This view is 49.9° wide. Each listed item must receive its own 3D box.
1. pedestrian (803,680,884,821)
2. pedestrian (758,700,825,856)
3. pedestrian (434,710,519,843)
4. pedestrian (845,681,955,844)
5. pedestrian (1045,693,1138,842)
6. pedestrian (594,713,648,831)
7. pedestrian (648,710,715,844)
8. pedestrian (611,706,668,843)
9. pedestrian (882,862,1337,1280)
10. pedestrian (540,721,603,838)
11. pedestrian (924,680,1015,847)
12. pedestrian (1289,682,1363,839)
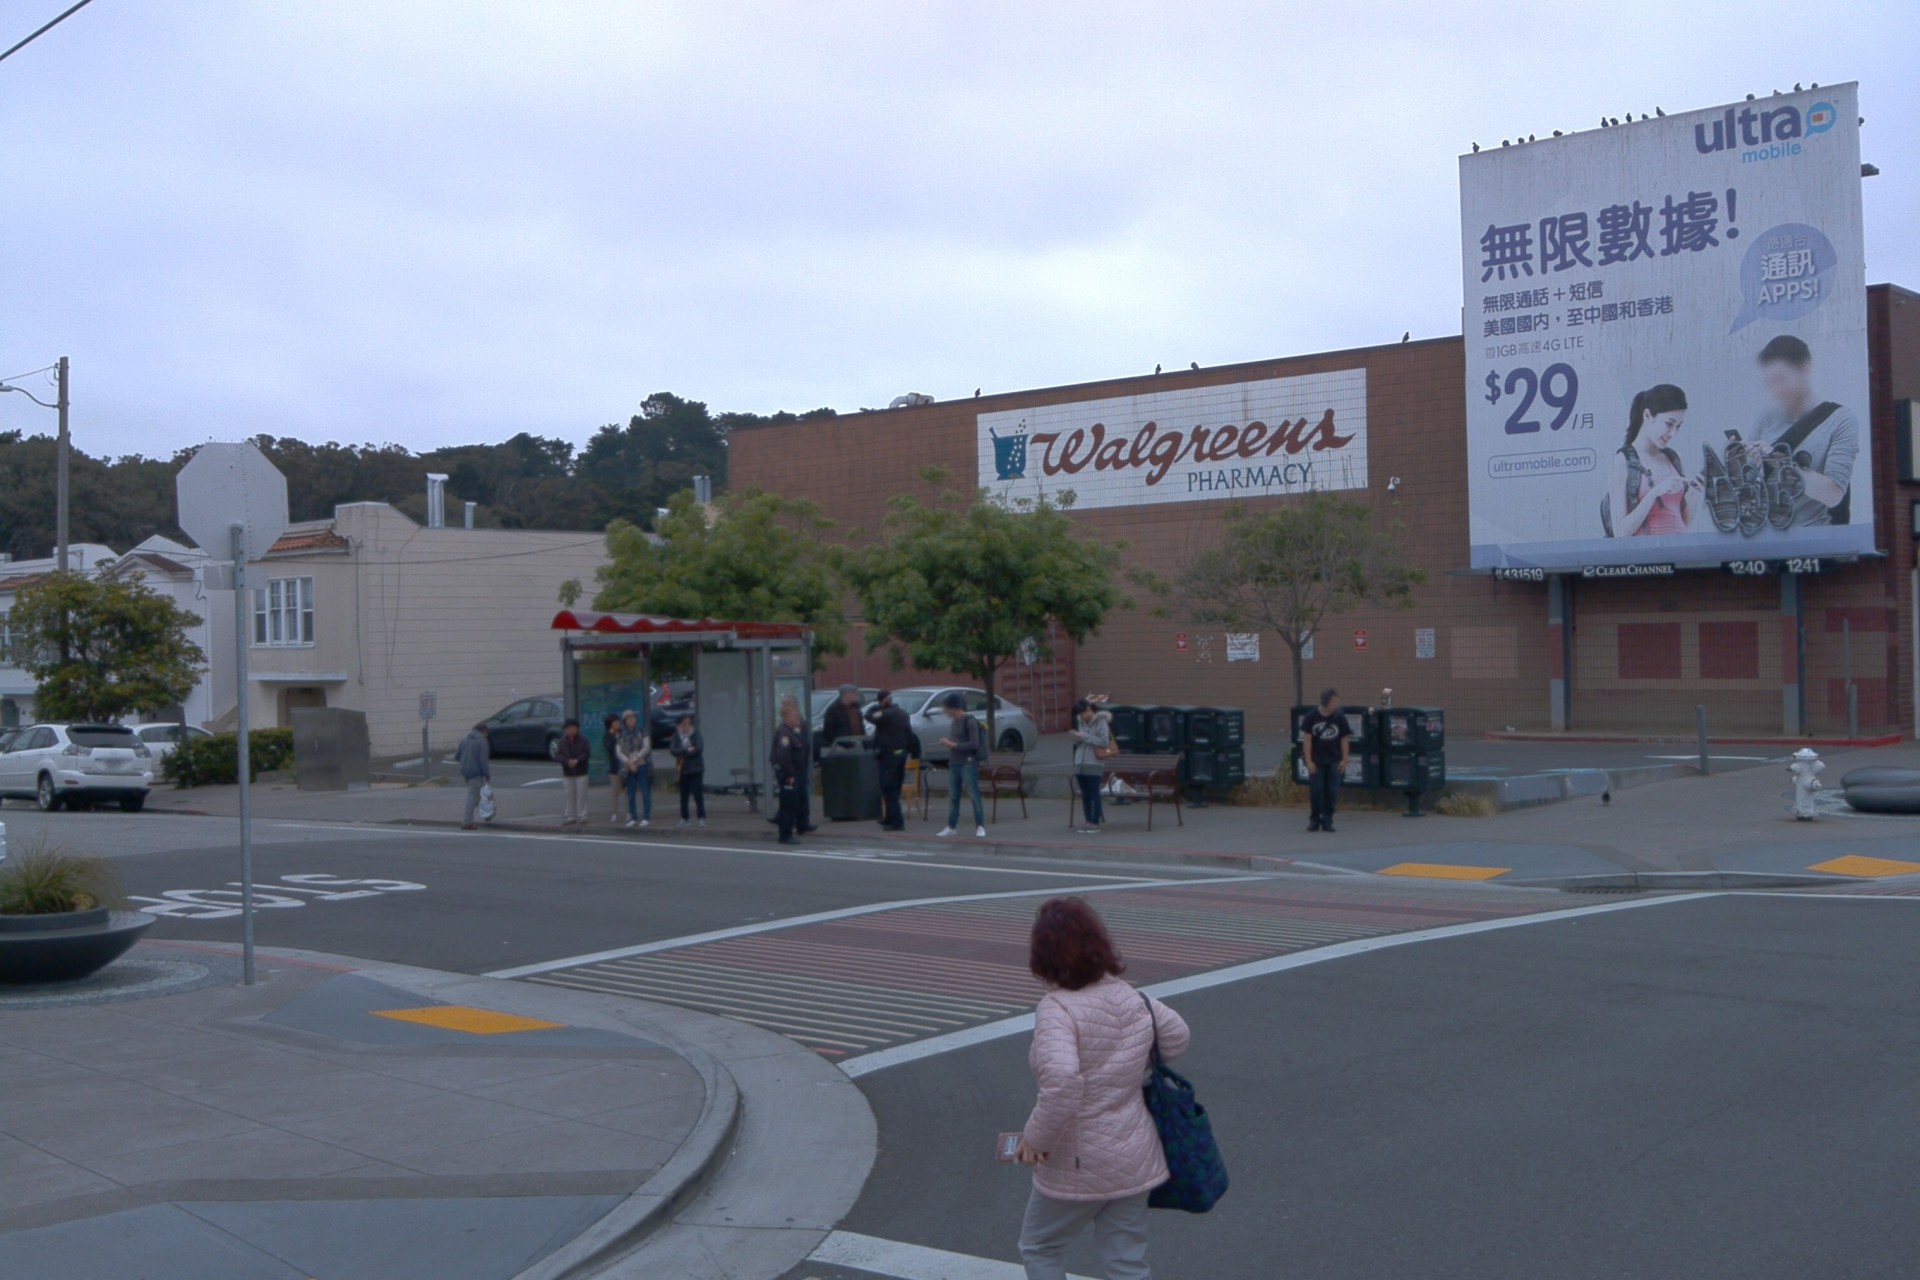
[{"bbox_3d":[-1.668,1.563,29.456,0.921,1.935,0.825,0,1,-23],"label":"pedestrian"},{"bbox_3d":[-2.084,1.692,25.559,0.811,1.841,0.986,0,1,-4],"label":"pedestrian"},{"bbox_3d":[-7.111,1.995,30.382,0.924,1.880,0.868,0,1,12],"label":"pedestrian"},{"bbox_3d":[-0.747,1.509,25.782,0.997,1.930,0.952,-1,1,-44],"label":"pedestrian"},{"bbox_3d":[1.563,1.491,24.511,0.872,1.690,0.667,1,1,40],"label":"pedestrian"},{"bbox_3d":[-4.846,1.877,29.551,0.684,1.635,0.709,0,1,-3],"label":"pedestrian"},{"bbox_3d":[-3.772,1.842,27.943,0.686,1.730,0.706,-1,1,-31],"label":"pedestrian"},{"bbox_3d":[-4.430,1.846,28.562,0.760,1.830,0.681,0,1,-8],"label":"pedestrian"},{"bbox_3d":[0.407,1.427,5.671,0.913,1.479,0.848,-1,1,-40],"label":"pedestrian"},{"bbox_3d":[-5.585,1.995,29.667,0.683,1.610,0.710,0,1,8],"label":"pedestrian"},{"bbox_3d":[0.110,1.452,24.653,0.667,1.910,0.872,-1,1,-43],"label":"pedestrian"},{"bbox_3d":[4.189,1.359,23.602,0.724,1.730,0.737,0,1,19],"label":"pedestrian"}]
